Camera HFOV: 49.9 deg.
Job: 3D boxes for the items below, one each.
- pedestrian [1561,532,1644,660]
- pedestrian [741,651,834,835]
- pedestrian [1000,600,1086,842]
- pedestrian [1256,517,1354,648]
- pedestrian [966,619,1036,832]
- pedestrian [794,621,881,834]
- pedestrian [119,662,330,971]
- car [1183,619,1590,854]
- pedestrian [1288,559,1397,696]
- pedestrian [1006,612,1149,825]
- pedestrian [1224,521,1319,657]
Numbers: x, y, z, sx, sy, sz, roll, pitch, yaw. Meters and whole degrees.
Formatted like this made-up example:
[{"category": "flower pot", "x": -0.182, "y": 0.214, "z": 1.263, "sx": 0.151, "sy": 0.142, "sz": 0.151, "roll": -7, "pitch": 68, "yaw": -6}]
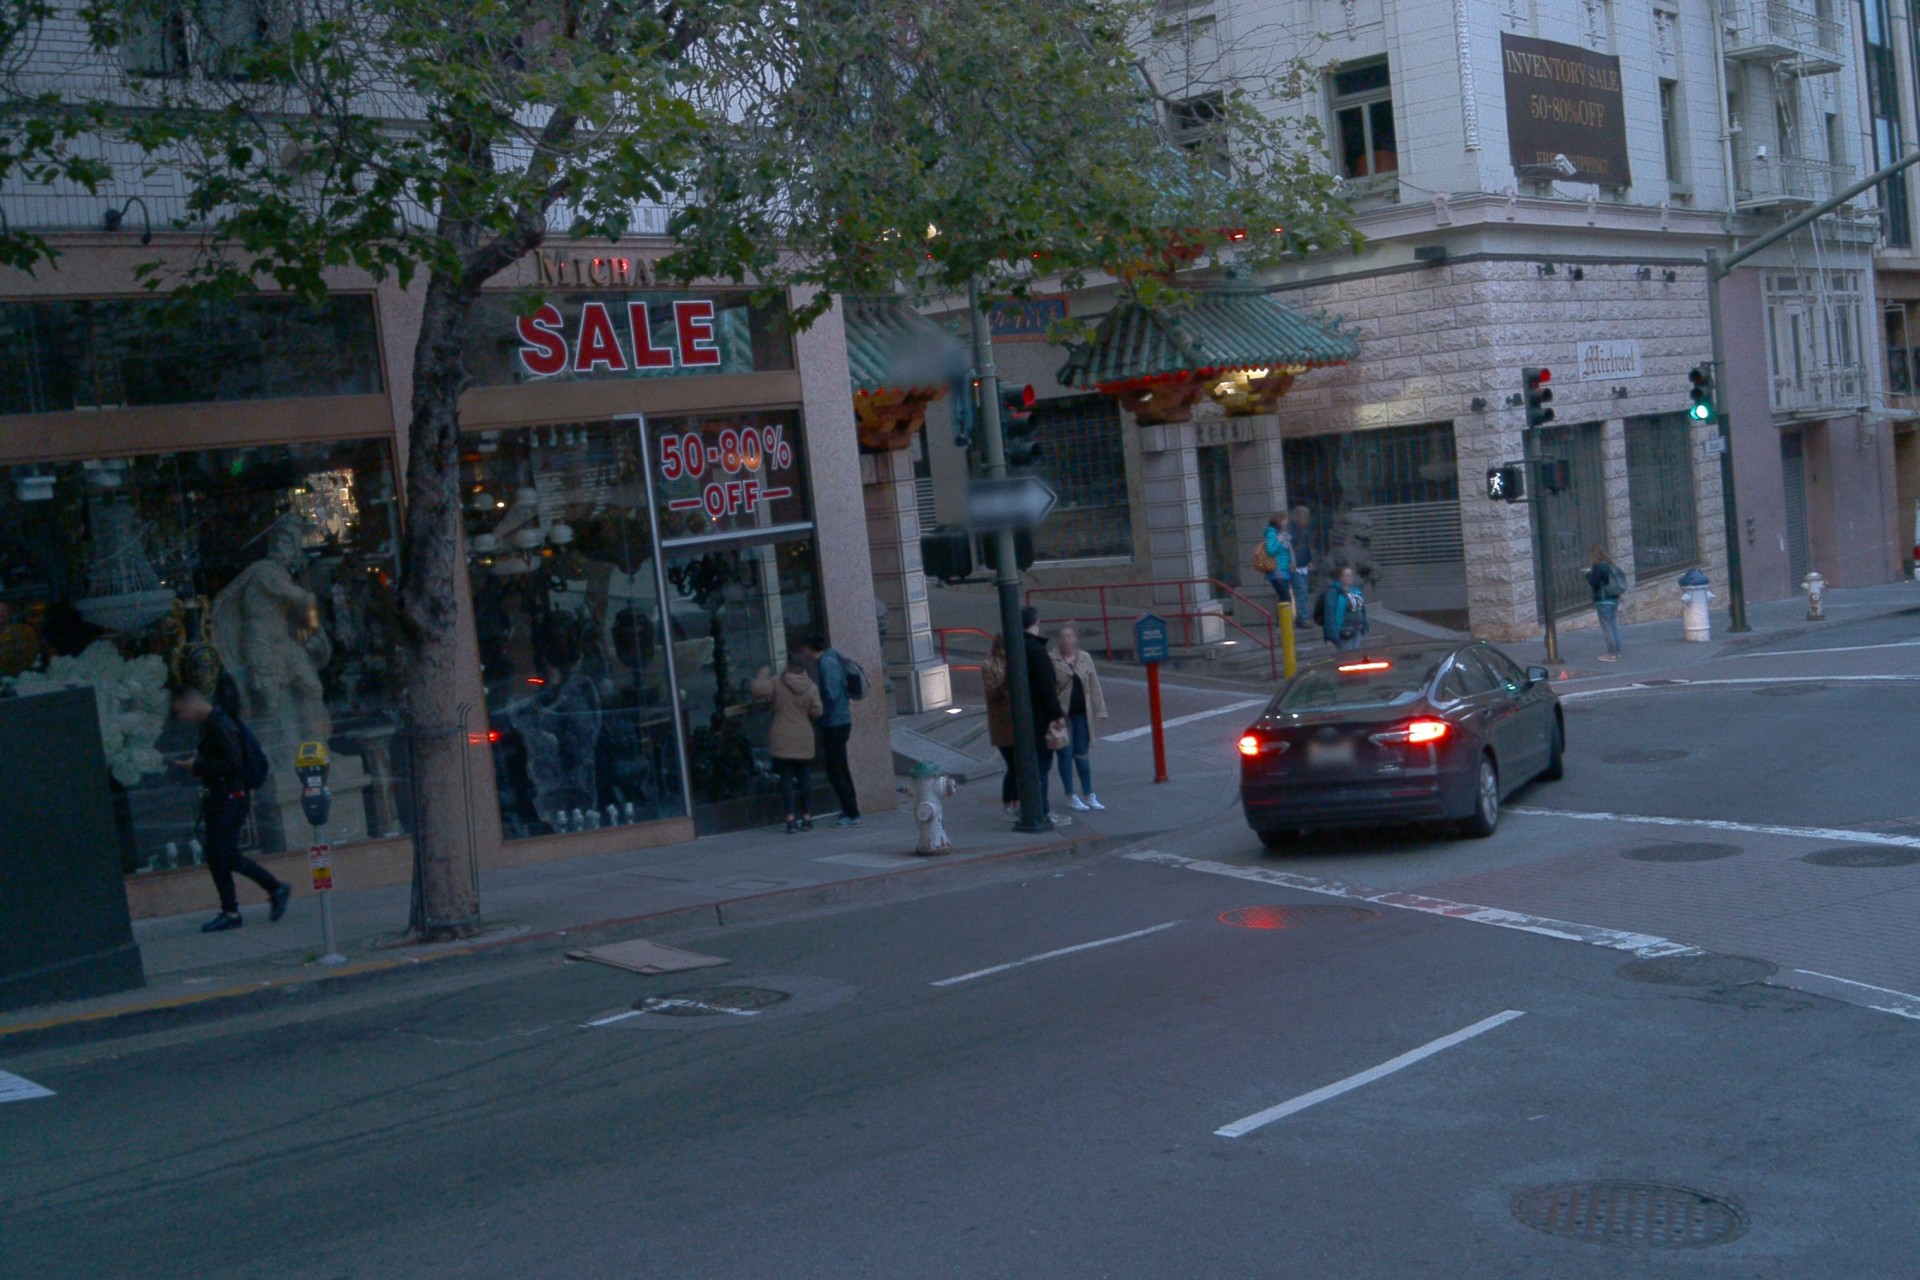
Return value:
[{"category": "pedestrian", "x": 8.554, "y": -0.579, "z": 27.466, "sx": 0.818, "sy": 1.660, "sz": 0.754, "roll": 1, "pitch": 1, "yaw": 41}, {"category": "pedestrian", "x": -1.518, "y": 0.894, "z": 18.278, "sx": 0.789, "sy": 1.580, "sz": 0.743, "roll": 0, "pitch": 1, "yaw": -3}, {"category": "pedestrian", "x": 0.732, "y": 0.692, "z": 18.044, "sx": 0.546, "sy": 2.070, "sz": 0.610, "roll": 0, "pitch": 1, "yaw": 26}, {"category": "pedestrian", "x": 4.918, "y": -0.804, "z": 29.421, "sx": 0.964, "sy": 1.820, "sz": 1.000, "roll": -1, "pitch": 1, "yaw": -45}, {"category": "pedestrian", "x": 0.362, "y": 0.751, "z": 18.574, "sx": 0.533, "sy": 1.880, "sz": 0.635, "roll": 0, "pitch": 1, "yaw": -8}, {"category": "pedestrian", "x": -1.100, "y": 0.774, "z": 18.656, "sx": 0.722, "sy": 1.880, "sz": 0.718, "roll": 0, "pitch": 1, "yaw": 1}, {"category": "pedestrian", "x": -4.789, "y": 1.104, "z": 13.453, "sx": 1.091, "sy": 1.890, "sz": 0.723, "roll": -1, "pitch": 1, "yaw": -42}, {"category": "car", "x": 3.692, "y": 0.657, "z": 17.104, "sx": 2.145, "sy": 1.640, "sz": 4.668, "roll": 0, "pitch": 1, "yaw": 27}, {"category": "pedestrian", "x": 4.889, "y": -0.168, "z": 26.382, "sx": 0.976, "sy": 1.710, "sz": 0.984, "roll": -1, "pitch": 1, "yaw": -43}, {"category": "pedestrian", "x": 1.082, "y": 0.685, "z": 18.873, "sx": 0.817, "sy": 1.880, "sz": 1.093, "roll": 0, "pitch": 1, "yaw": 39}, {"category": "pedestrian", "x": 4.358, "y": -0.705, "z": 28.873, "sx": 0.927, "sy": 1.850, "sz": 0.934, "roll": -1, "pitch": 1, "yaw": -45}]
